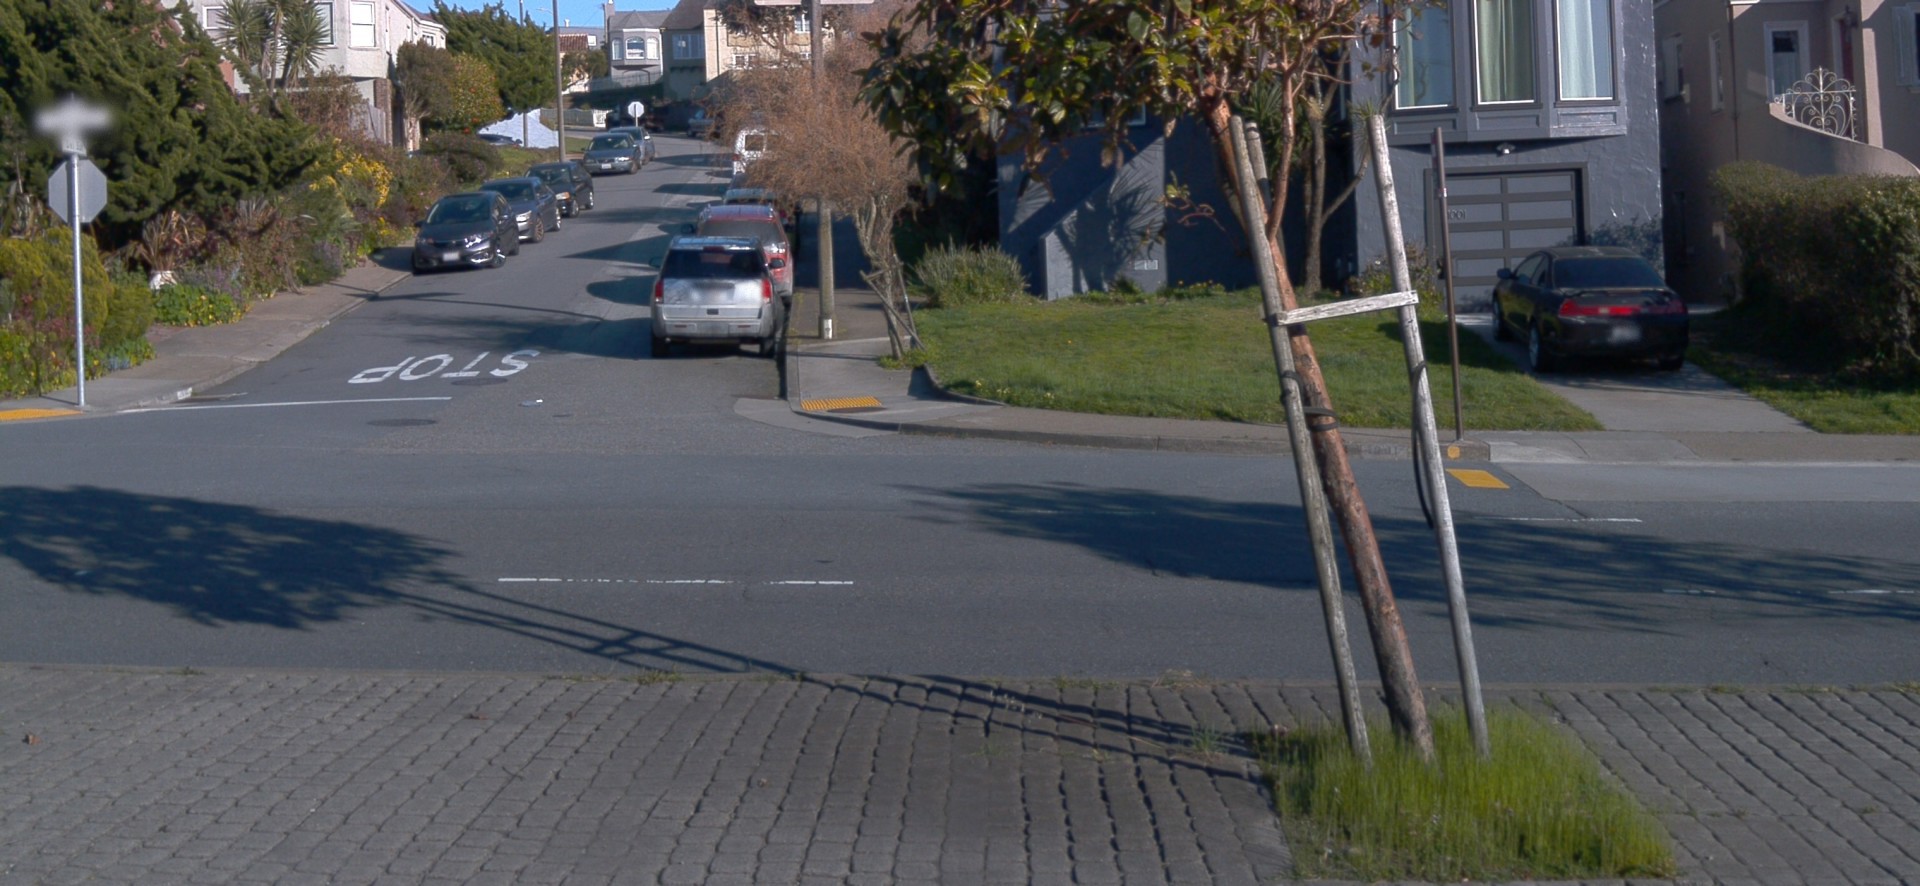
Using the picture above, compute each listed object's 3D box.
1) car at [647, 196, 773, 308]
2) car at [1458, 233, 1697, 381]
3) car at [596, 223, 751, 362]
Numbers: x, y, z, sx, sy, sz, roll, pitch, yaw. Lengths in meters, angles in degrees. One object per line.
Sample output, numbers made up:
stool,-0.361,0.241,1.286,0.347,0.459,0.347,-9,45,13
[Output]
car,-4.398,-3.422,36.696,2.065,1.831,4.217,0,6,-7
car,7.634,-1.794,26.116,2.039,1.612,4.505,1,6,5
car,-4.145,-2.294,30.703,2.052,1.831,4.505,0,6,-6
